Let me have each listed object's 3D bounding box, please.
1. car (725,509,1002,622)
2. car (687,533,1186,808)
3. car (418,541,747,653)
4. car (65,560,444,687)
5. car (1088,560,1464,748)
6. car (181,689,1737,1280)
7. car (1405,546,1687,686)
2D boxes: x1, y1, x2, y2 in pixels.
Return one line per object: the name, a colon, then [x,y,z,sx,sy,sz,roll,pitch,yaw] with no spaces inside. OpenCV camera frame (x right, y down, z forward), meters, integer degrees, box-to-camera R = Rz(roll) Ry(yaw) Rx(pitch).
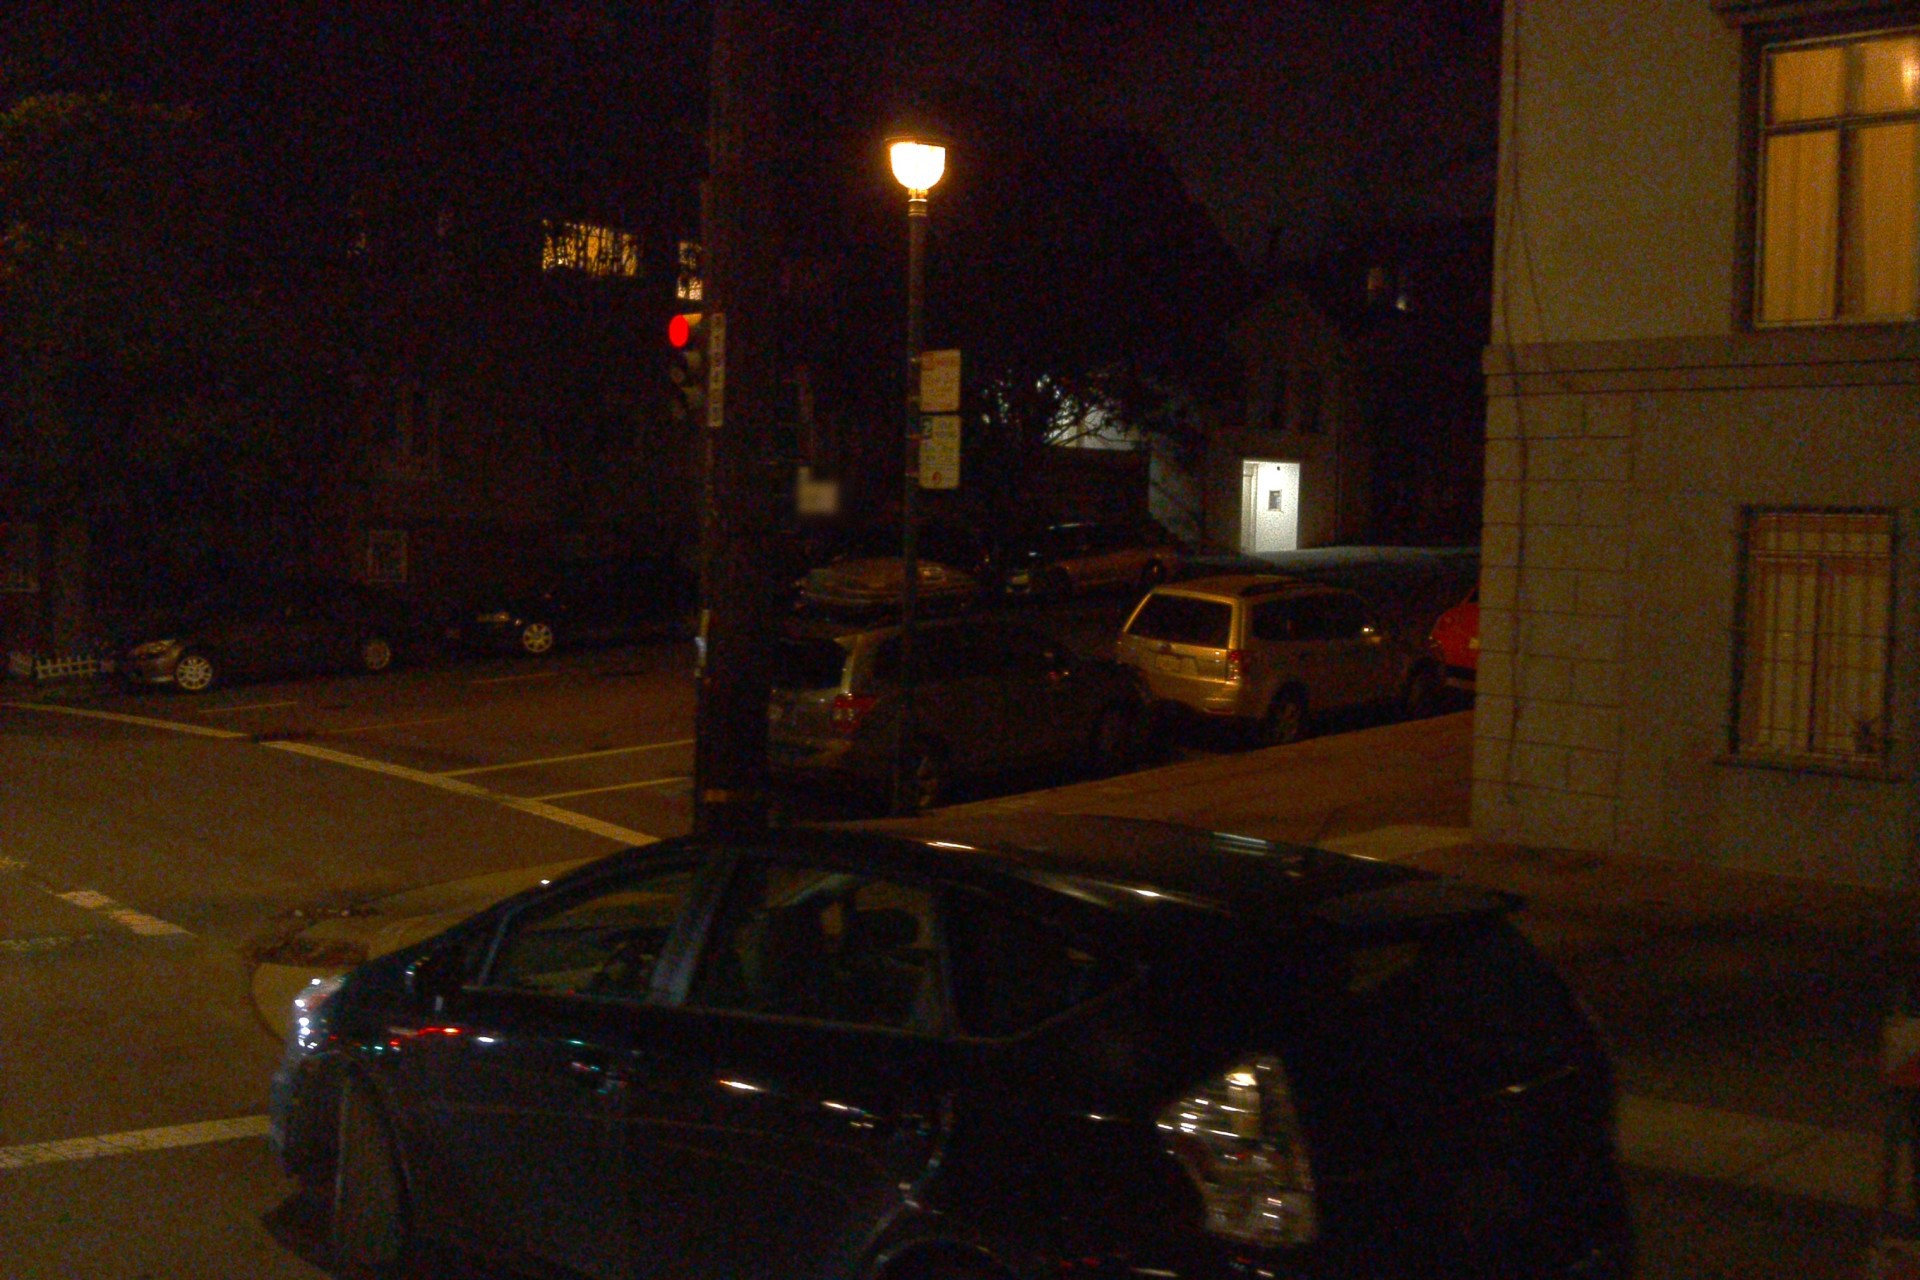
car: [-1.602,-1.224,35.444,4.629,1.790,2.012,0,0,-45]
car: [-0.097,0.244,18.634,1.882,2.200,4.520,1,0,44]
car: [-5.772,-0.620,31.645,4.646,1.610,2.000,0,0,-43]
car: [-9.520,-0.209,27.885,2.012,1.590,4.471,1,0,41]
car: [3.458,0.133,21.847,1.845,1.810,4.298,1,0,43]
car: [-0.340,1.142,6.230,4.587,1.830,2.085,1,0,45]
car: [7.534,-0.284,26.096,1.862,1.640,3.906,1,0,43]
